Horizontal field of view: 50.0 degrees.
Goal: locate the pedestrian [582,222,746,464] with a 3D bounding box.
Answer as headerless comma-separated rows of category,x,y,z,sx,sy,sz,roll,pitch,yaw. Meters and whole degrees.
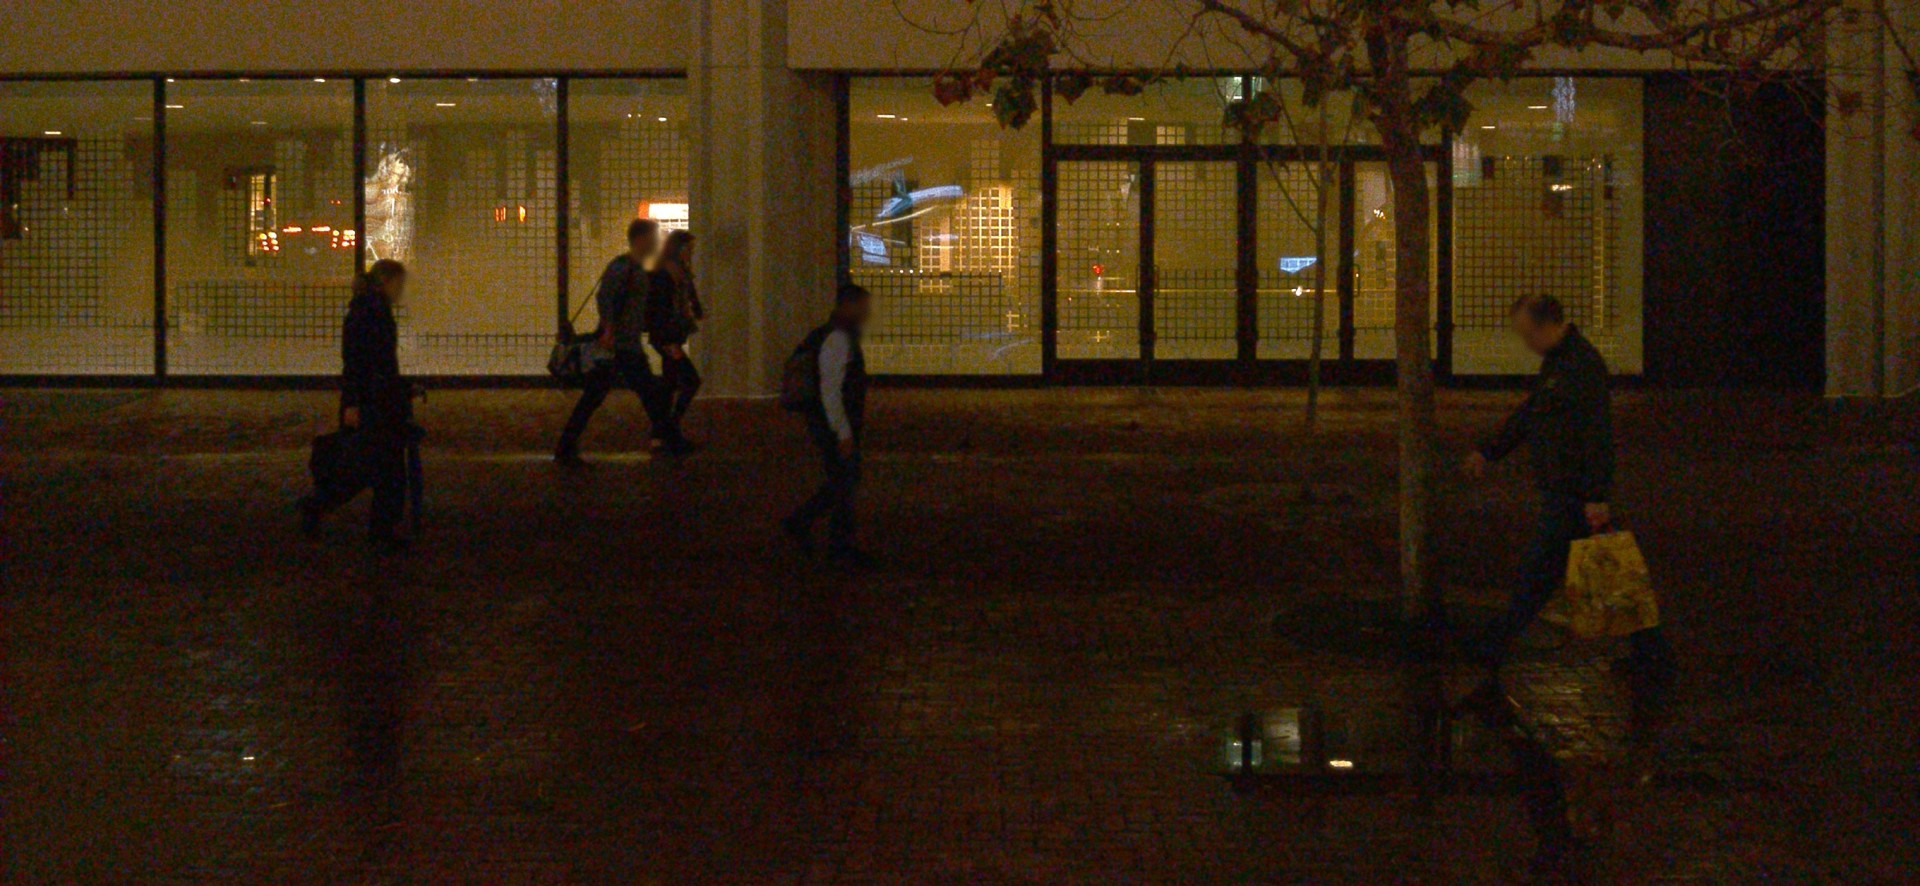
pedestrian,-2.194,-0.766,15.370,1.132,1.761,0.747,0,0,-3

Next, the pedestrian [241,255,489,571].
pedestrian,-3.429,-0.214,11.960,1.091,1.751,0.971,0,1,6

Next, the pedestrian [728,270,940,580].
pedestrian,-0.680,-0.133,11.475,1.106,1.651,0.848,0,1,2

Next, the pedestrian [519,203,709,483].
pedestrian,-2.439,-0.731,14.644,1.195,1.931,0.894,0,1,0

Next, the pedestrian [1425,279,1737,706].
pedestrian,2.660,0.163,8.939,1.063,1.741,0.944,0,1,-1
